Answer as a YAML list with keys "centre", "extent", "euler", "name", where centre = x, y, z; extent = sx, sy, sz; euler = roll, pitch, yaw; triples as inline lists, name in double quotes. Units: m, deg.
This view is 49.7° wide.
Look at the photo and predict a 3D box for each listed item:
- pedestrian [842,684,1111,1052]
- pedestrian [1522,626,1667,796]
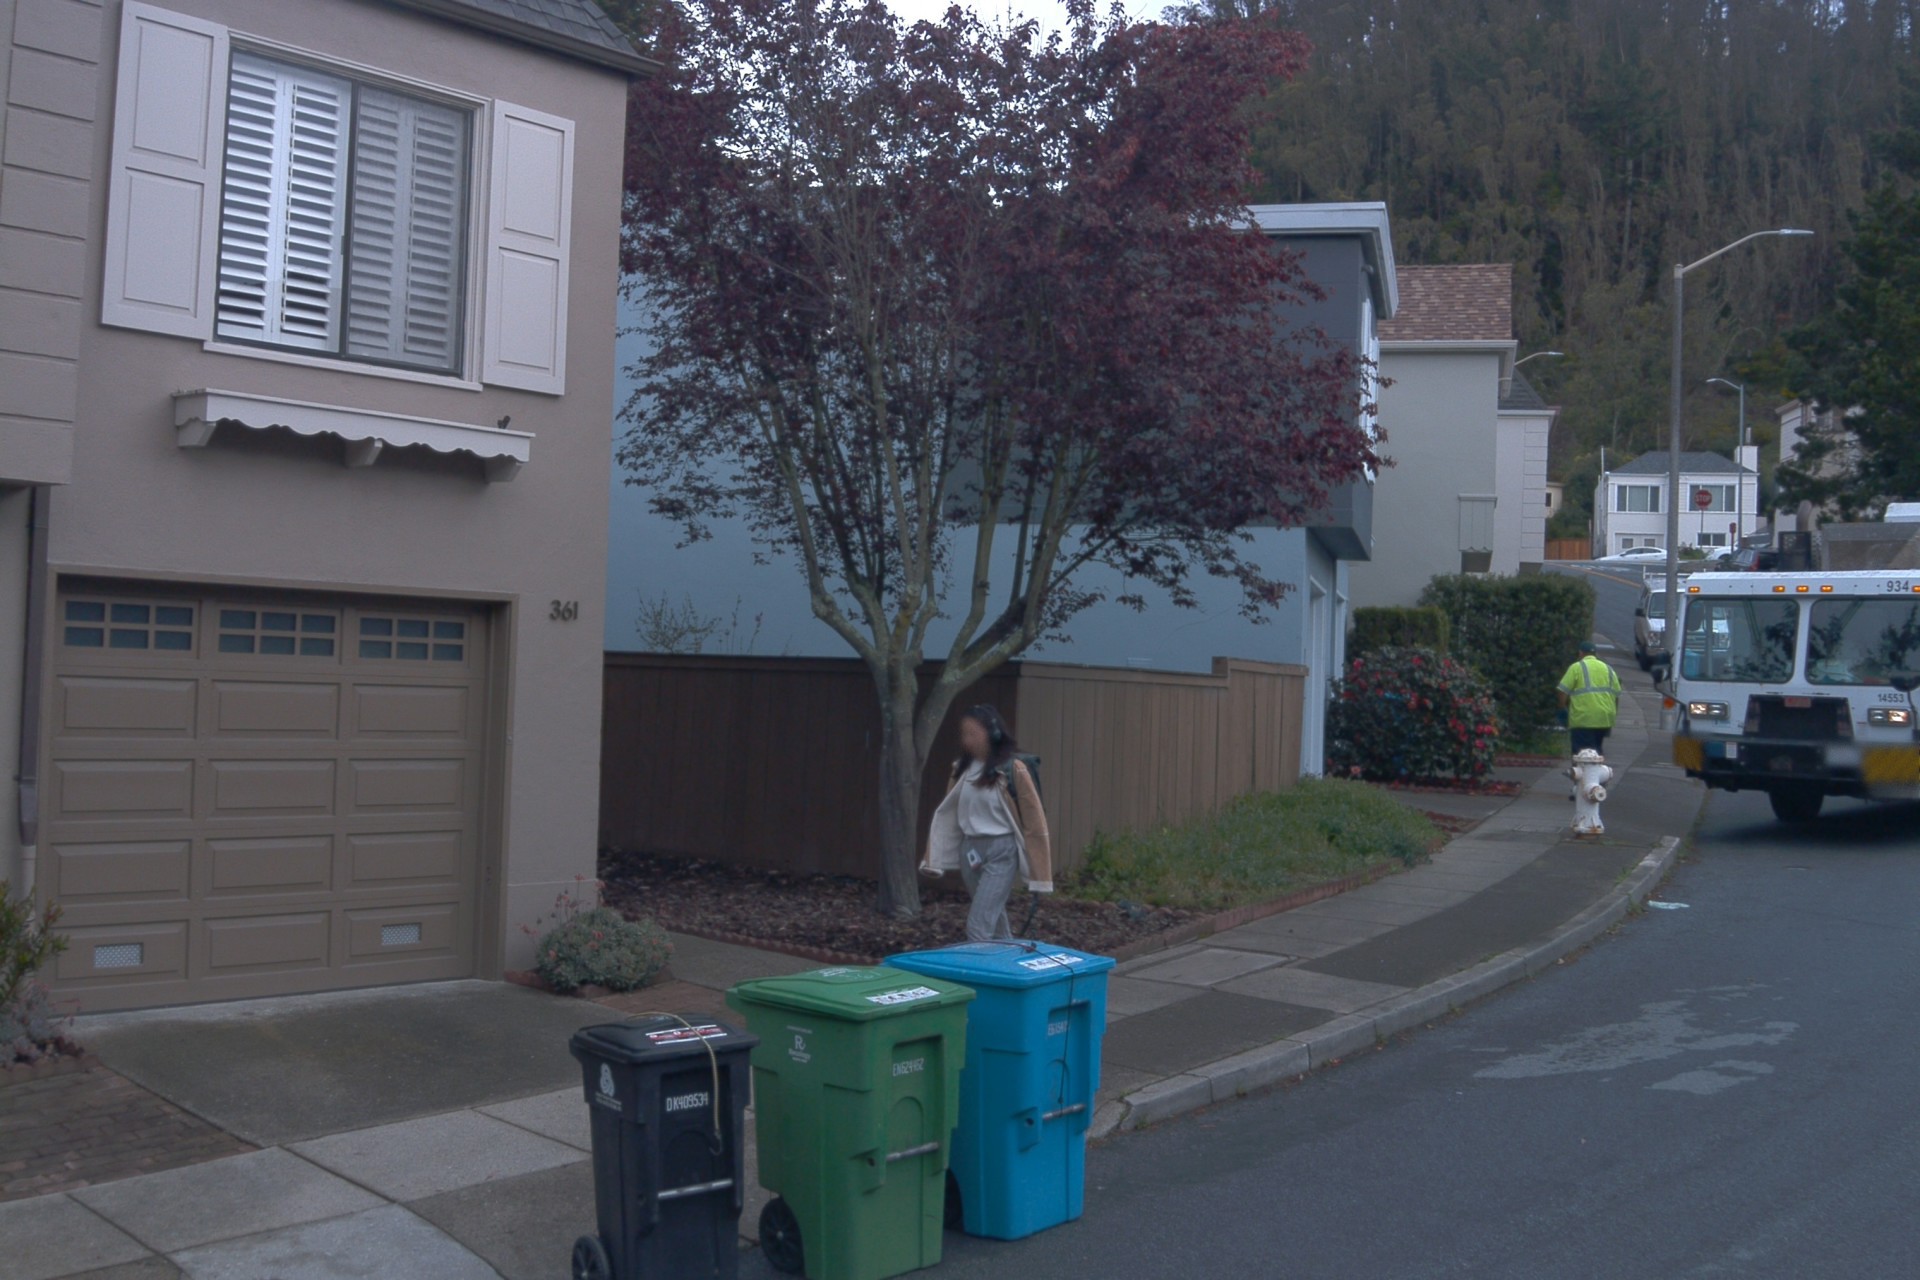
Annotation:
- centre: [0.090, 1.114, 10.682]
  extent: [0.946, 1.740, 1.007]
  euler: [0, 0, 40]
  name: "pedestrian"
- centre: [6.903, 0.748, 22.583]
  extent: [1.102, 1.790, 1.027]
  euler: [0, 0, -26]
  name: "pedestrian"
